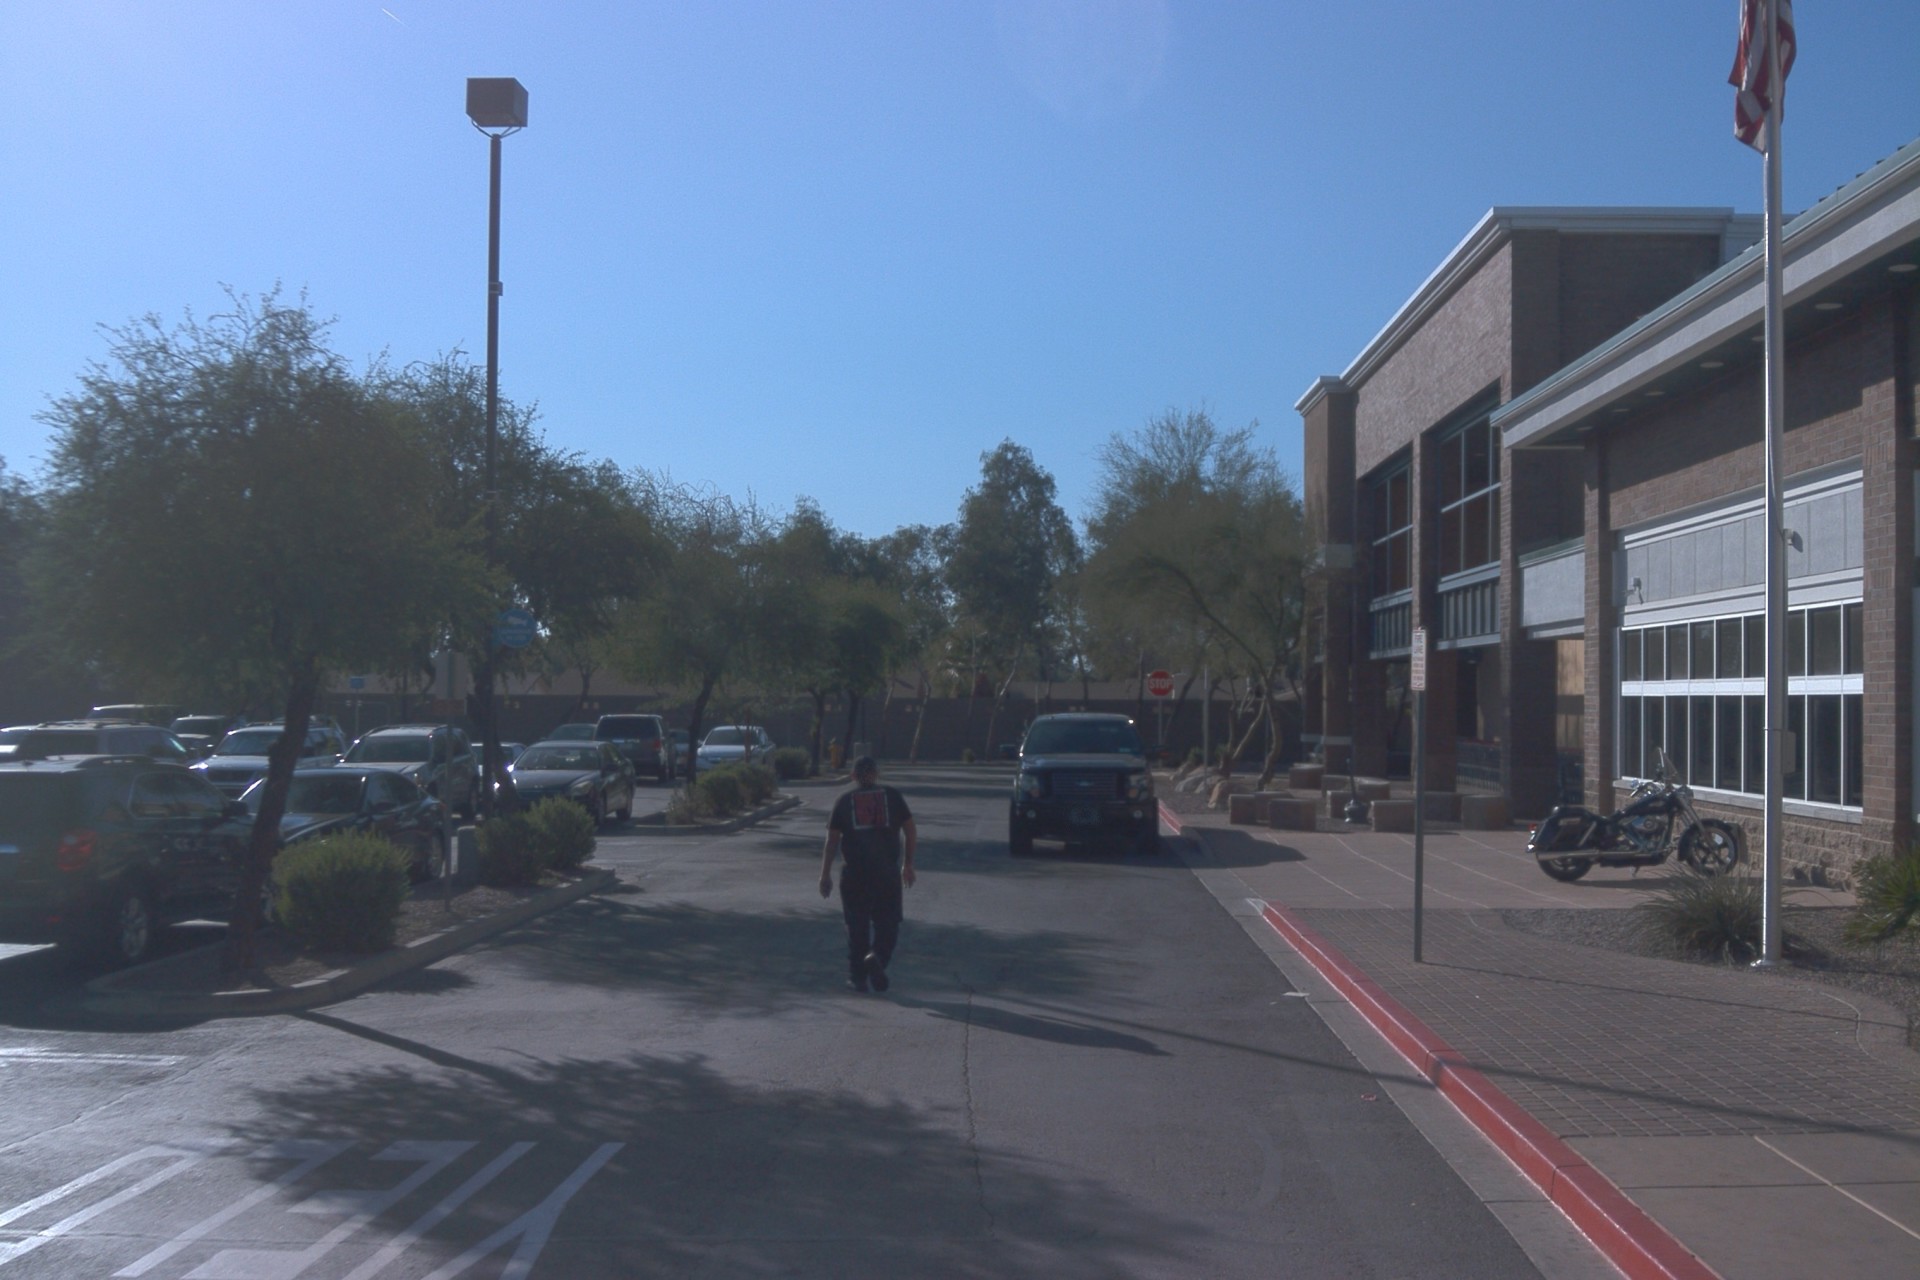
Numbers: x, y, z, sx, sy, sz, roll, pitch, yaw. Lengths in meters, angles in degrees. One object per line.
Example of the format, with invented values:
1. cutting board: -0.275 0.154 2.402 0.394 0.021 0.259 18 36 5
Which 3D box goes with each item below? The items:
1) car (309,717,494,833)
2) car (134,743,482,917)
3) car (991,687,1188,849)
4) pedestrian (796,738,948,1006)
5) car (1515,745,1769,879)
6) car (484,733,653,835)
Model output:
1. car: -9.683 2.303 36.354 1.886 1.820 4.571 -1 -1 2
2. car: -7.262 2.072 23.762 2.211 1.640 5.024 -1 -1 3
3. car: 1.873 1.818 31.127 2.655 2.190 5.664 -1 -1 2
4. pedestrian: -0.658 1.681 15.407 1.075 1.870 1.184 0 -1 -3
5. car: 7.608 1.918 23.260 2.509 1.430 1.043 -1 -1 5
6. car: -6.753 2.463 36.312 1.931 1.560 4.779 -1 -1 2
